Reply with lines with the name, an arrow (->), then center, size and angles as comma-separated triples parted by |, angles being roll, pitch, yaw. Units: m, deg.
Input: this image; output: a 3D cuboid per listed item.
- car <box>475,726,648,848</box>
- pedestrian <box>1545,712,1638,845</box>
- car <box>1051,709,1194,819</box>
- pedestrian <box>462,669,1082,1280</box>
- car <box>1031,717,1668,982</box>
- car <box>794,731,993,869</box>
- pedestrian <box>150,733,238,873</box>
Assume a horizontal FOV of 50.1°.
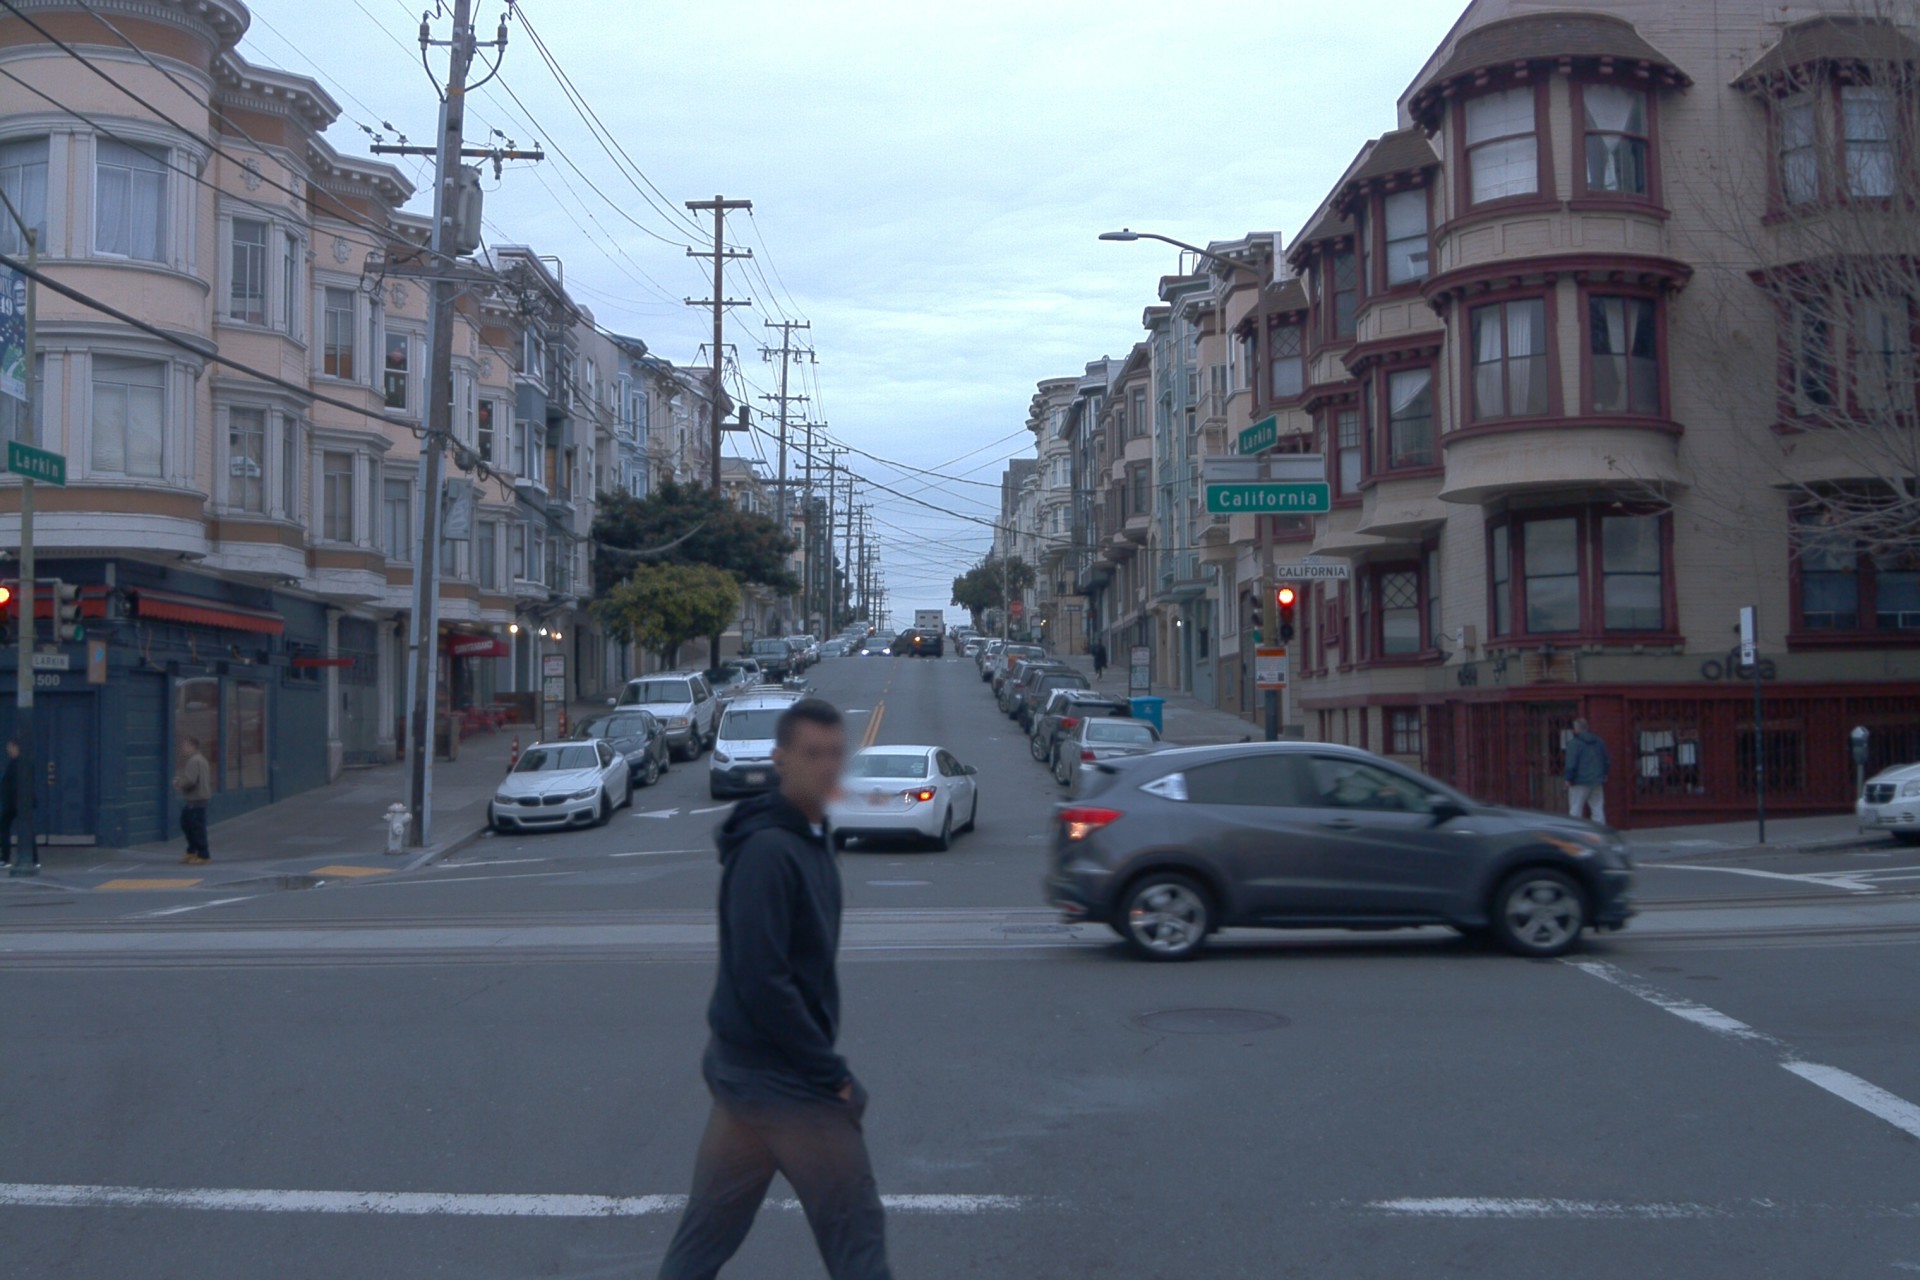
car -> -6.814, 2.481, 35.707 | 2.150, 1.707, 4.680 | 0, 1, -1
pedestrian -> 9.133, 1.985, 29.745 | 0.911, 1.830, 0.911 | -1, 1, -28
car -> 2.936, 2.243, 38.182 | 2.108, 1.700, 4.470 | 0, 1, -2
pedestrian -> -0.472, 1.126, 5.306 | 1.459, 2.066, 0.817 | 0, 1, -5
car -> 2.789, 1.511, 15.502 | 4.366, 1.720, 2.041 | 0, 1, -2
car -> -0.885, 2.307, 30.655 | 2.147, 1.600, 4.694 | 0, 1, 9
pedestrian -> -10.837, 2.299, 29.123 | 0.950, 1.900, 0.786 | 0, 1, -1
